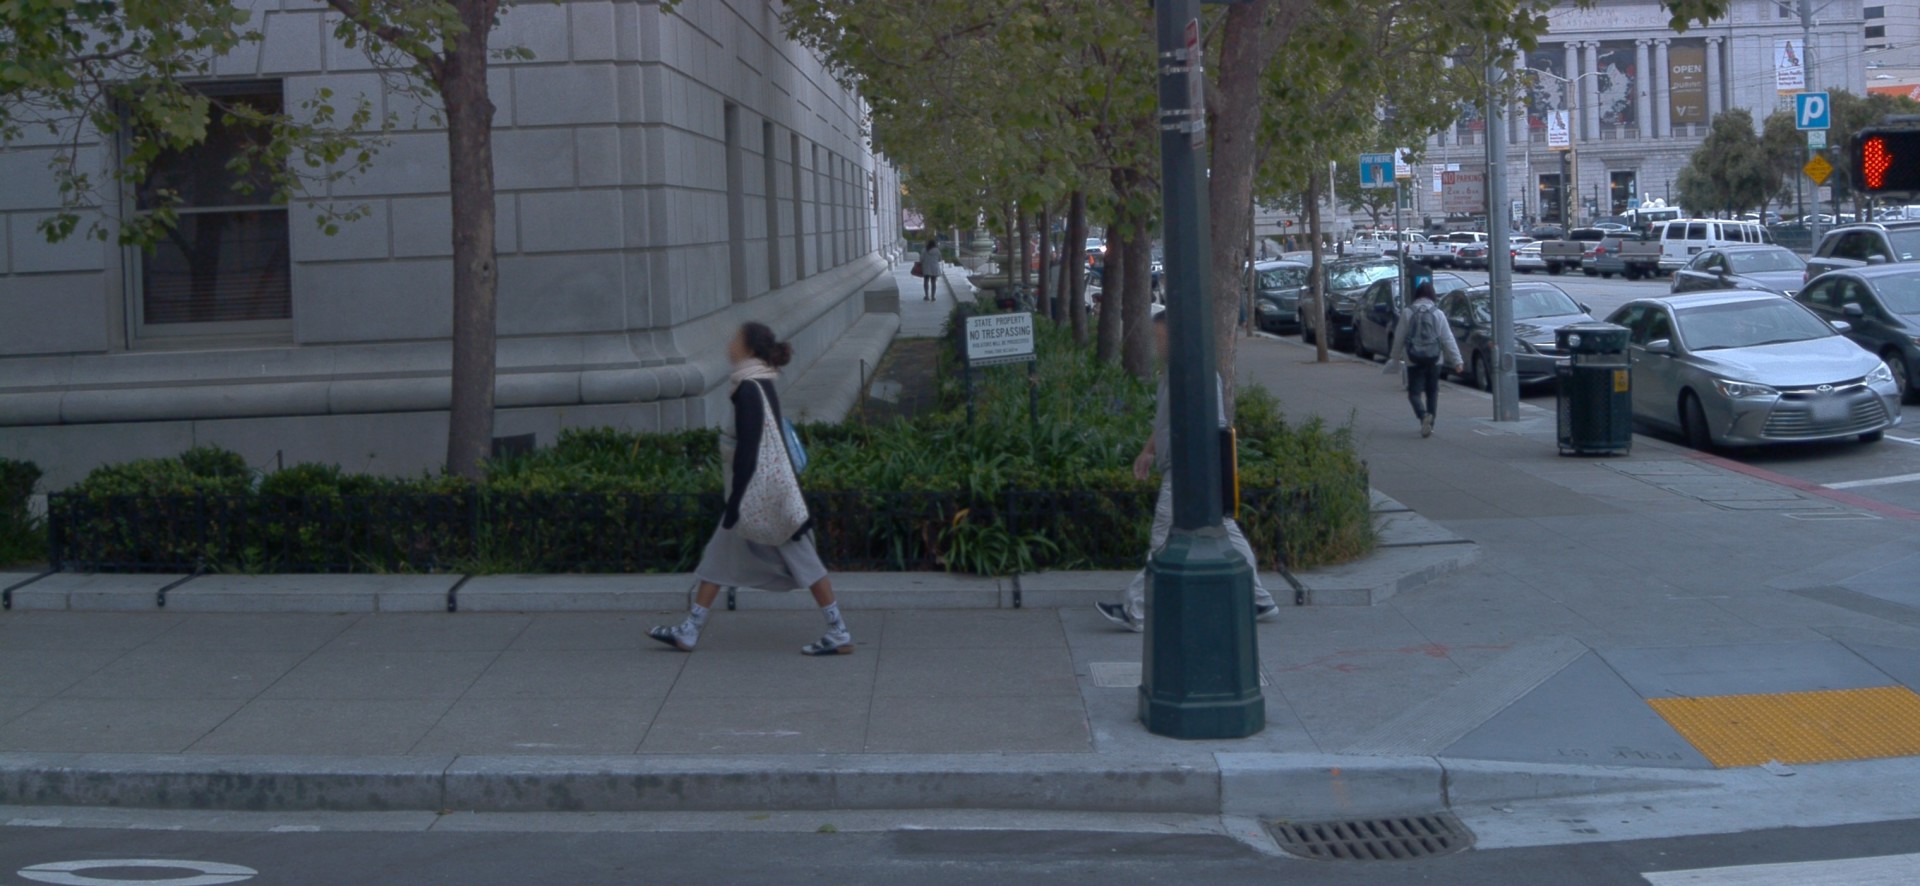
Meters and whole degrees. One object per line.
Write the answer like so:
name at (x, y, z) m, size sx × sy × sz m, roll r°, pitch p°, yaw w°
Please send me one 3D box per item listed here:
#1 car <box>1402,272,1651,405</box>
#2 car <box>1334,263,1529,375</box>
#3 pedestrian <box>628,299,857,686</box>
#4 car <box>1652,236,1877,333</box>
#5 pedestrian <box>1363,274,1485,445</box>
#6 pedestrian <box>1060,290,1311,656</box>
car at (7.623, -1.505, 28.265) m, size 2.120 × 1.491 × 4.717 m, roll 0°, pitch 6°, yaw 0°
car at (7.530, -2.070, 33.406) m, size 2.072 × 1.521 × 4.713 m, roll 0°, pitch 6°, yaw 0°
pedestrian at (-1.034, 0.197, 10.067) m, size 1.039 × 1.751 × 0.936 m, roll 0°, pitch 2°, yaw -3°
car at (13.897, -2.814, 35.954) m, size 2.097 × 1.481 × 4.737 m, roll 0°, pitch 6°, yaw 0°
pedestrian at (4.678, -0.864, 20.847) m, size 1.012 × 1.654 × 0.859 m, roll 0°, pitch 2°, yaw -3°
pedestrian at (1.141, 0.110, 10.594) m, size 1.080 × 1.739 × 0.856 m, roll -1°, pitch 2°, yaw -10°
